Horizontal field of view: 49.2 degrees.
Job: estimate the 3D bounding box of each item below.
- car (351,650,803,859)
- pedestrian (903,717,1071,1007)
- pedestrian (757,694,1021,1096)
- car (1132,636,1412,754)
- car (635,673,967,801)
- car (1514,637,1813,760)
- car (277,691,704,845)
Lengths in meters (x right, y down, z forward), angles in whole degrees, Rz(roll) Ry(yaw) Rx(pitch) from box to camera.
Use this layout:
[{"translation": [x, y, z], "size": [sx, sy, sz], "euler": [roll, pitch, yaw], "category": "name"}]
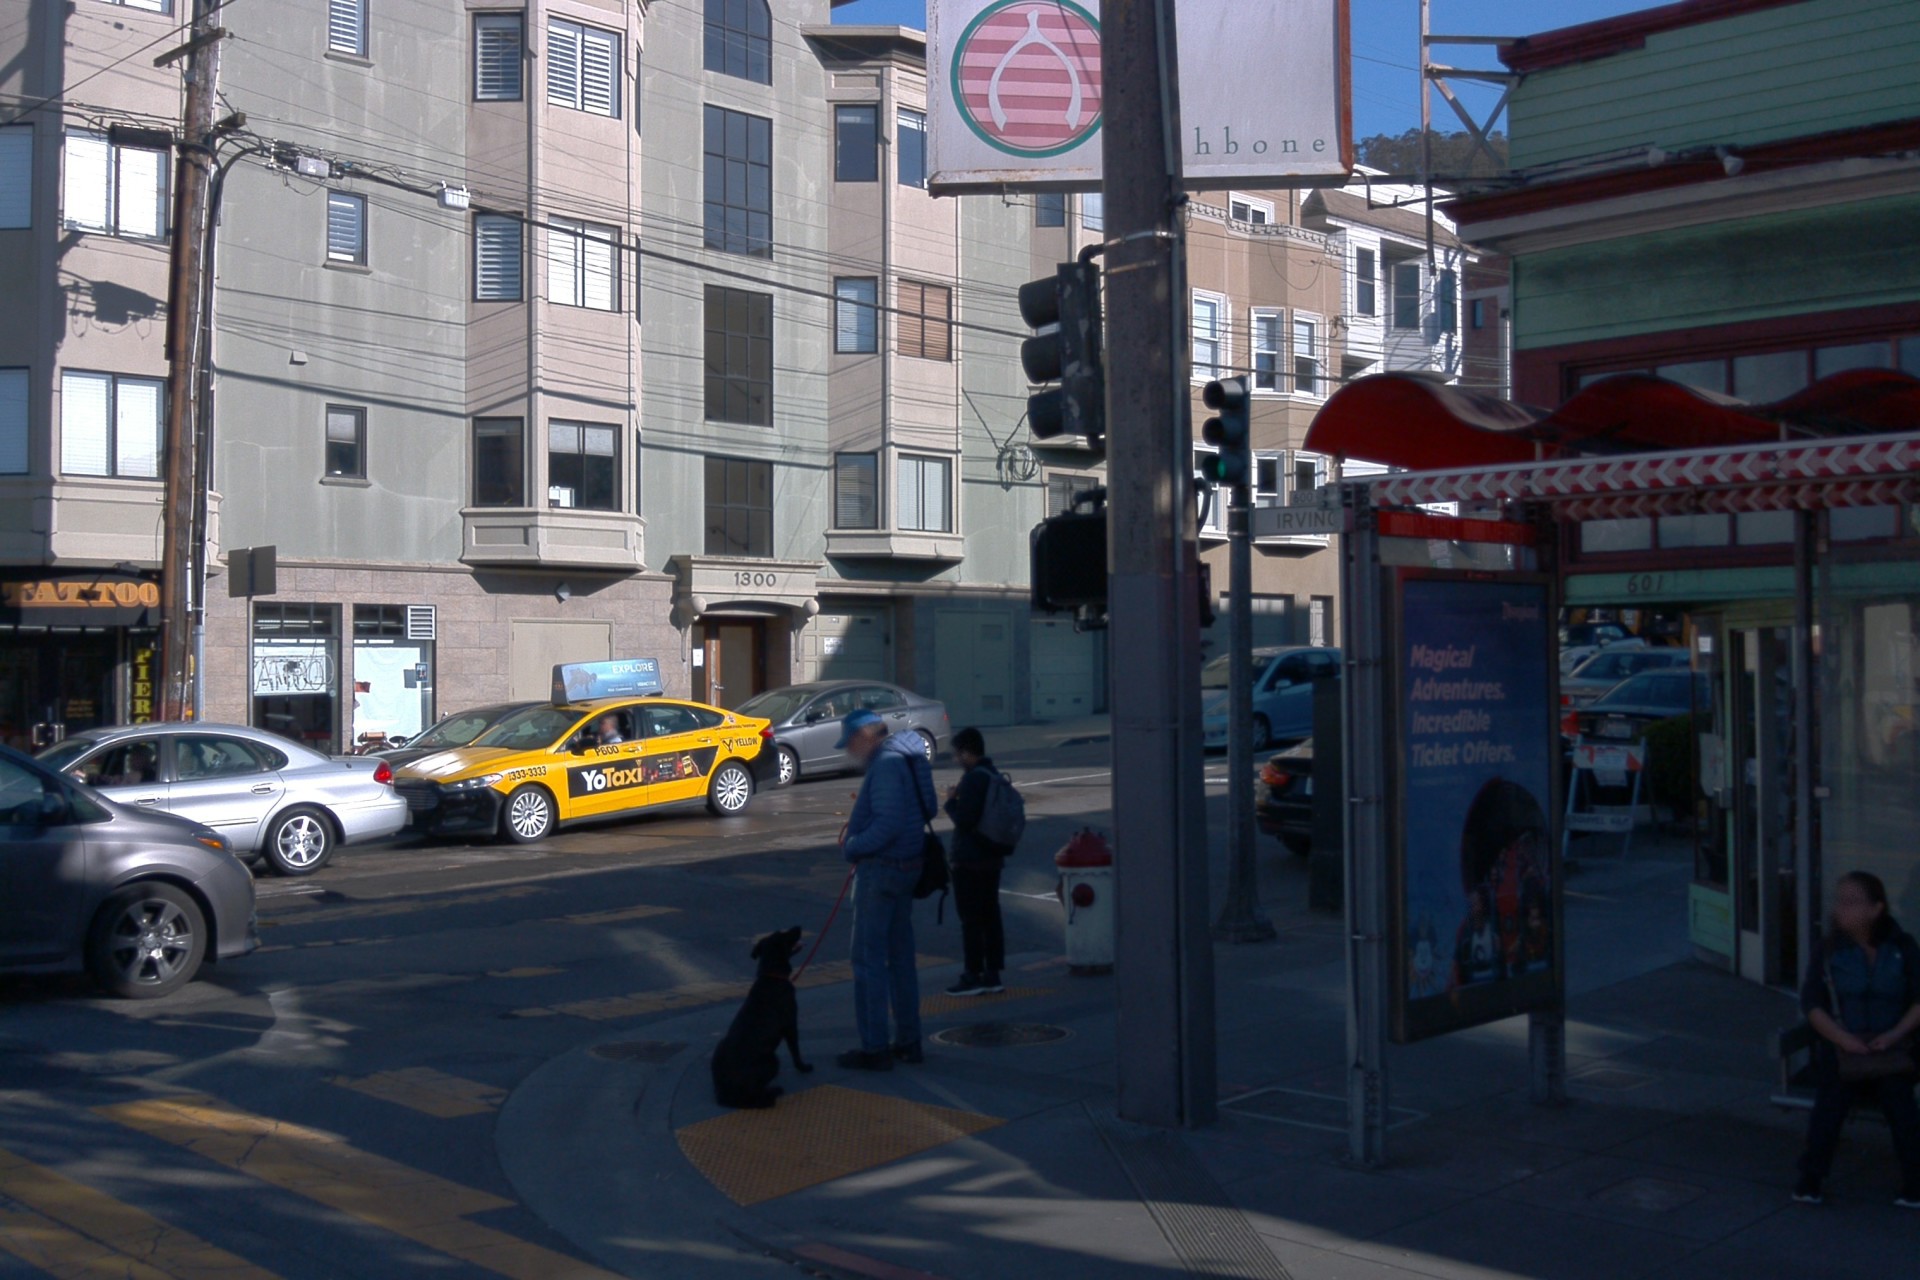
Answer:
[{"translation": [-4.222, 1.189, 23.753], "size": [2.070, 2.100, 4.772], "euler": [1, 0, 41], "category": "car"}, {"translation": [0.167, 1.343, 13.044], "size": [0.687, 1.700, 0.778], "euler": [0, 0, -43], "category": "pedestrian"}, {"translation": [-0.354, 1.213, 10.496], "size": [0.894, 1.860, 0.955], "euler": [1, 0, 42], "category": "pedestrian"}, {"translation": [4.862, 0.812, 32.264], "size": [4.554, 1.680, 1.896], "euler": [1, 0, -45], "category": "car"}, {"translation": [-2.217, 1.323, 30.143], "size": [2.102, 1.670, 4.524], "euler": [0, 0, 43], "category": "car"}, {"translation": [10.014, 0.782, 29.620], "size": [2.077, 1.590, 4.904], "euler": [0, 0, 44], "category": "car"}, {"translation": [-5.778, 1.517, 26.271], "size": [2.149, 1.660, 4.833], "euler": [0, 0, 44], "category": "car"}]
